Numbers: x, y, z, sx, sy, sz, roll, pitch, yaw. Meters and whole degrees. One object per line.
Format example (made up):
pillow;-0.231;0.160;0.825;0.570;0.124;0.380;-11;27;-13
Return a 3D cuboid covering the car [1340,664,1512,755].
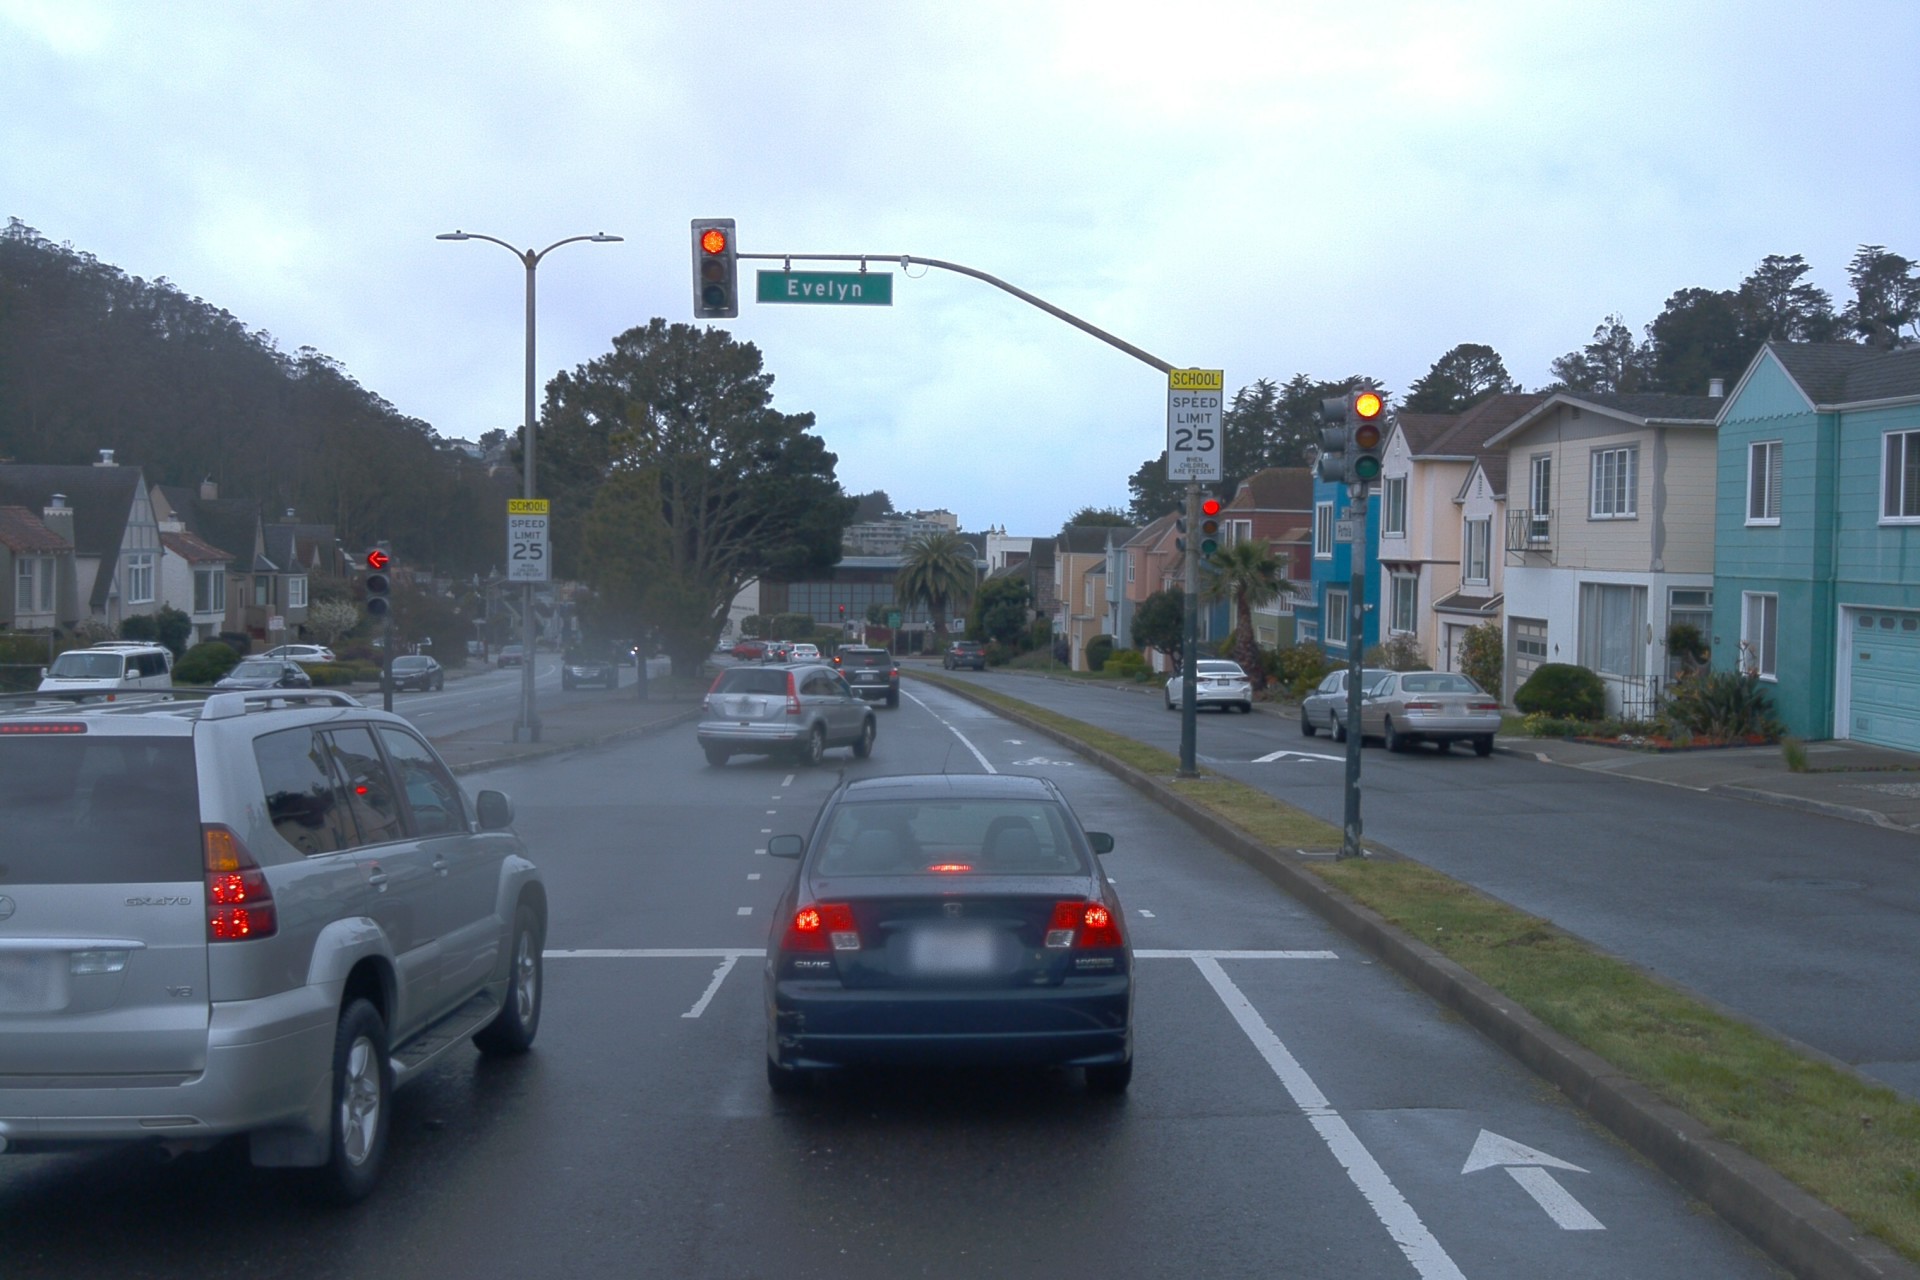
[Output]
car;8.084;1.174;36.132;1.755;1.440;4.469;0;0;-4

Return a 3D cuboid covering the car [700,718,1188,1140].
car;-0.106;1.264;10.547;2.004;1.570;4.164;0;0;-1

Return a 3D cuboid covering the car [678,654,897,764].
car;-2.752;1.078;34.107;2.147;1.660;4.572;0;0;15
